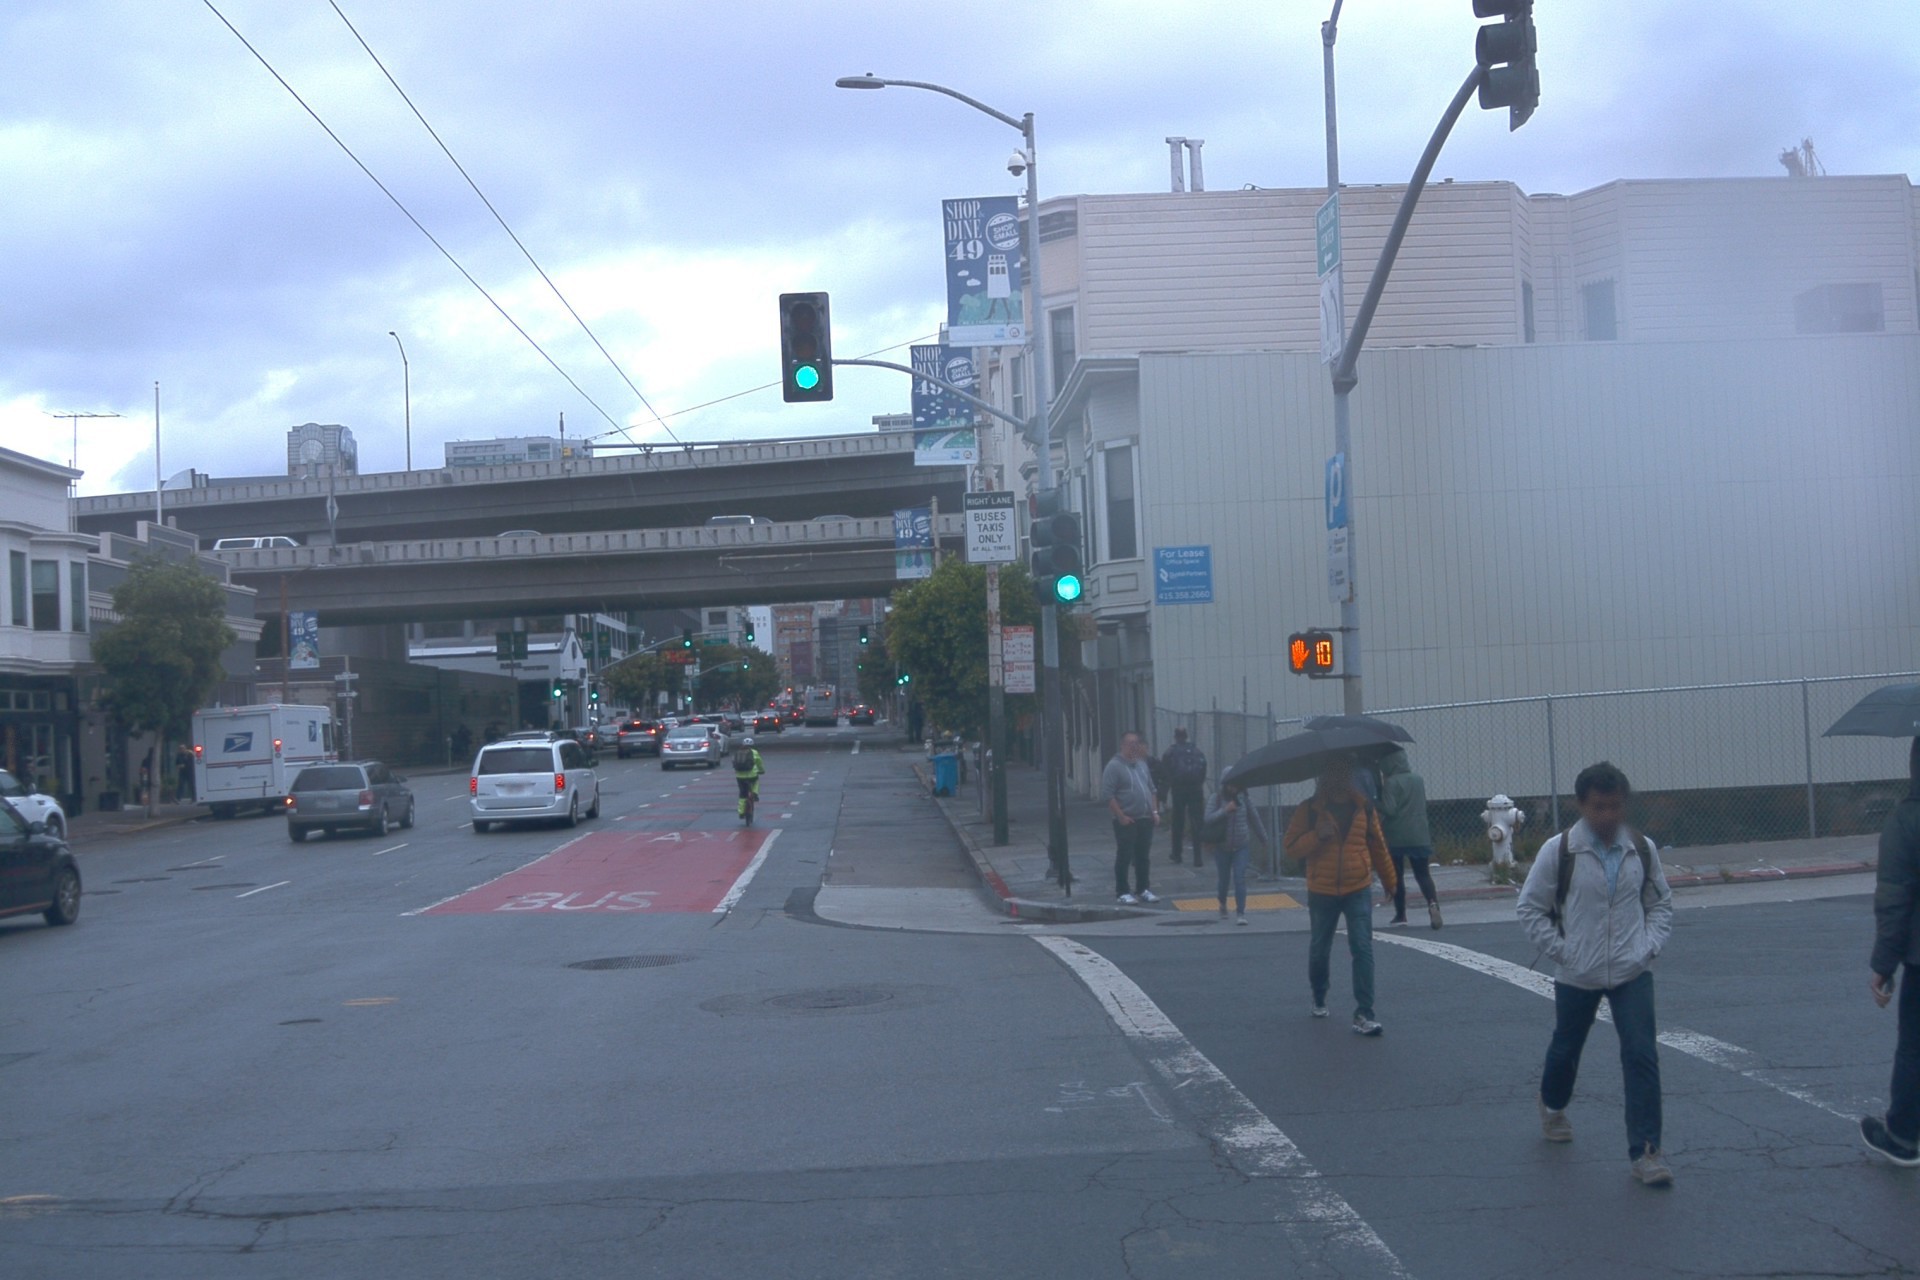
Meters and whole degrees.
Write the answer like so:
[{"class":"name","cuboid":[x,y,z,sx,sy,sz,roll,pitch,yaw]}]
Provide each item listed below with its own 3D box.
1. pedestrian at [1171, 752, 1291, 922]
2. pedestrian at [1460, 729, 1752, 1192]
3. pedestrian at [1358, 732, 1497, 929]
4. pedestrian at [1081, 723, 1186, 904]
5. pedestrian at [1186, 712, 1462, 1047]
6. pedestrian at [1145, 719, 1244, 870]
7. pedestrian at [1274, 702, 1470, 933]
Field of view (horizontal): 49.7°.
[{"class":"pedestrian","cuboid":[2.603,1.881,20.017,1.000,1.560,1.000,0,-1,-1]},{"class":"pedestrian","cuboid":[2.568,1.229,8.371,0.815,1.708,1.098,0,-1,-1]},{"class":"pedestrian","cuboid":[4.207,1.692,18.743,0.989,1.692,1.085,0,-1,-1]},{"class":"pedestrian","cuboid":[1.827,1.807,21.890,0.843,1.837,0.755,0,-1,-23]},{"class":"pedestrian","cuboid":[2.060,1.326,11.974,1.299,1.790,1.323,0,-1,-3]},{"class":"pedestrian","cuboid":[2.870,1.877,25.480,1.011,1.790,1.088,0,-1,-5]},{"class":"pedestrian","cuboid":[3.722,1.576,18.919,1.409,1.988,1.525,0,-1,-3]}]
